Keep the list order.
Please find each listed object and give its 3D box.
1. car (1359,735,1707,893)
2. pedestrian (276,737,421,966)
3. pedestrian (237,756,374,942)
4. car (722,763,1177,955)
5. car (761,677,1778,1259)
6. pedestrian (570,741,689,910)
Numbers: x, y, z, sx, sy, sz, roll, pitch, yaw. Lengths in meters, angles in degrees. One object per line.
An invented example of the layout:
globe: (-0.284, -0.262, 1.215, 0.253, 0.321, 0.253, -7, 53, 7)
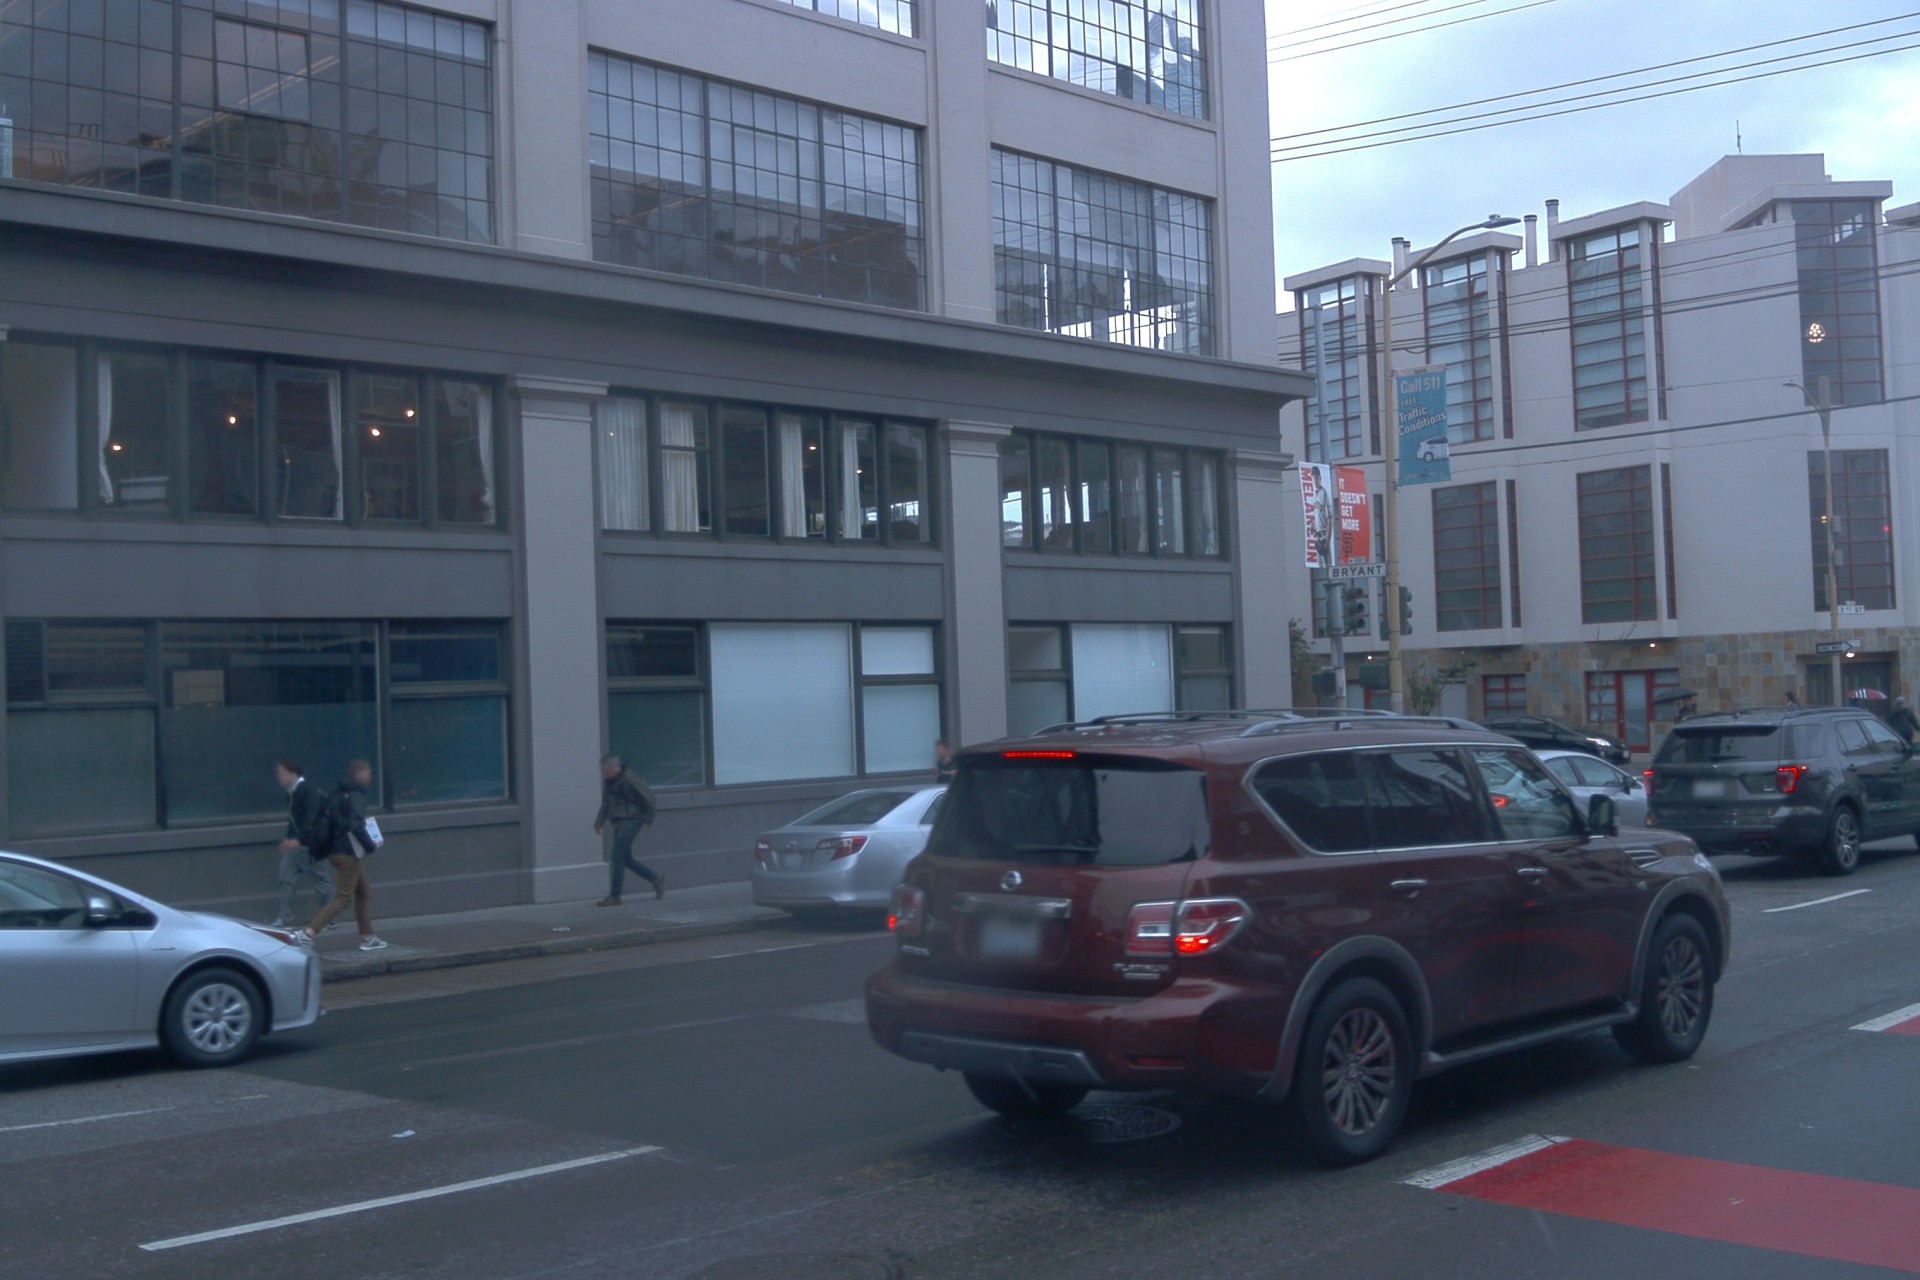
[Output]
car: (6.978, 2.005, 25.019, 2.025, 1.500, 4.729, 0, 0, 44)
pedestrian: (-5.659, 1.919, 19.247, 0.909, 1.990, 0.967, 0, 0, 45)
pedestrian: (-6.597, 2.078, 20.971, 0.838, 1.740, 1.041, 0, 0, 44)
car: (-0.001, 2.272, 22.669, 2.014, 1.570, 4.989, 0, 0, 45)
car: (1.833, 1.274, 10.532, 2.388, 2.080, 5.385, 0, 0, 44)
pedestrian: (-3.731, 2.067, 23.489, 0.851, 1.800, 1.024, 0, 0, 43)
